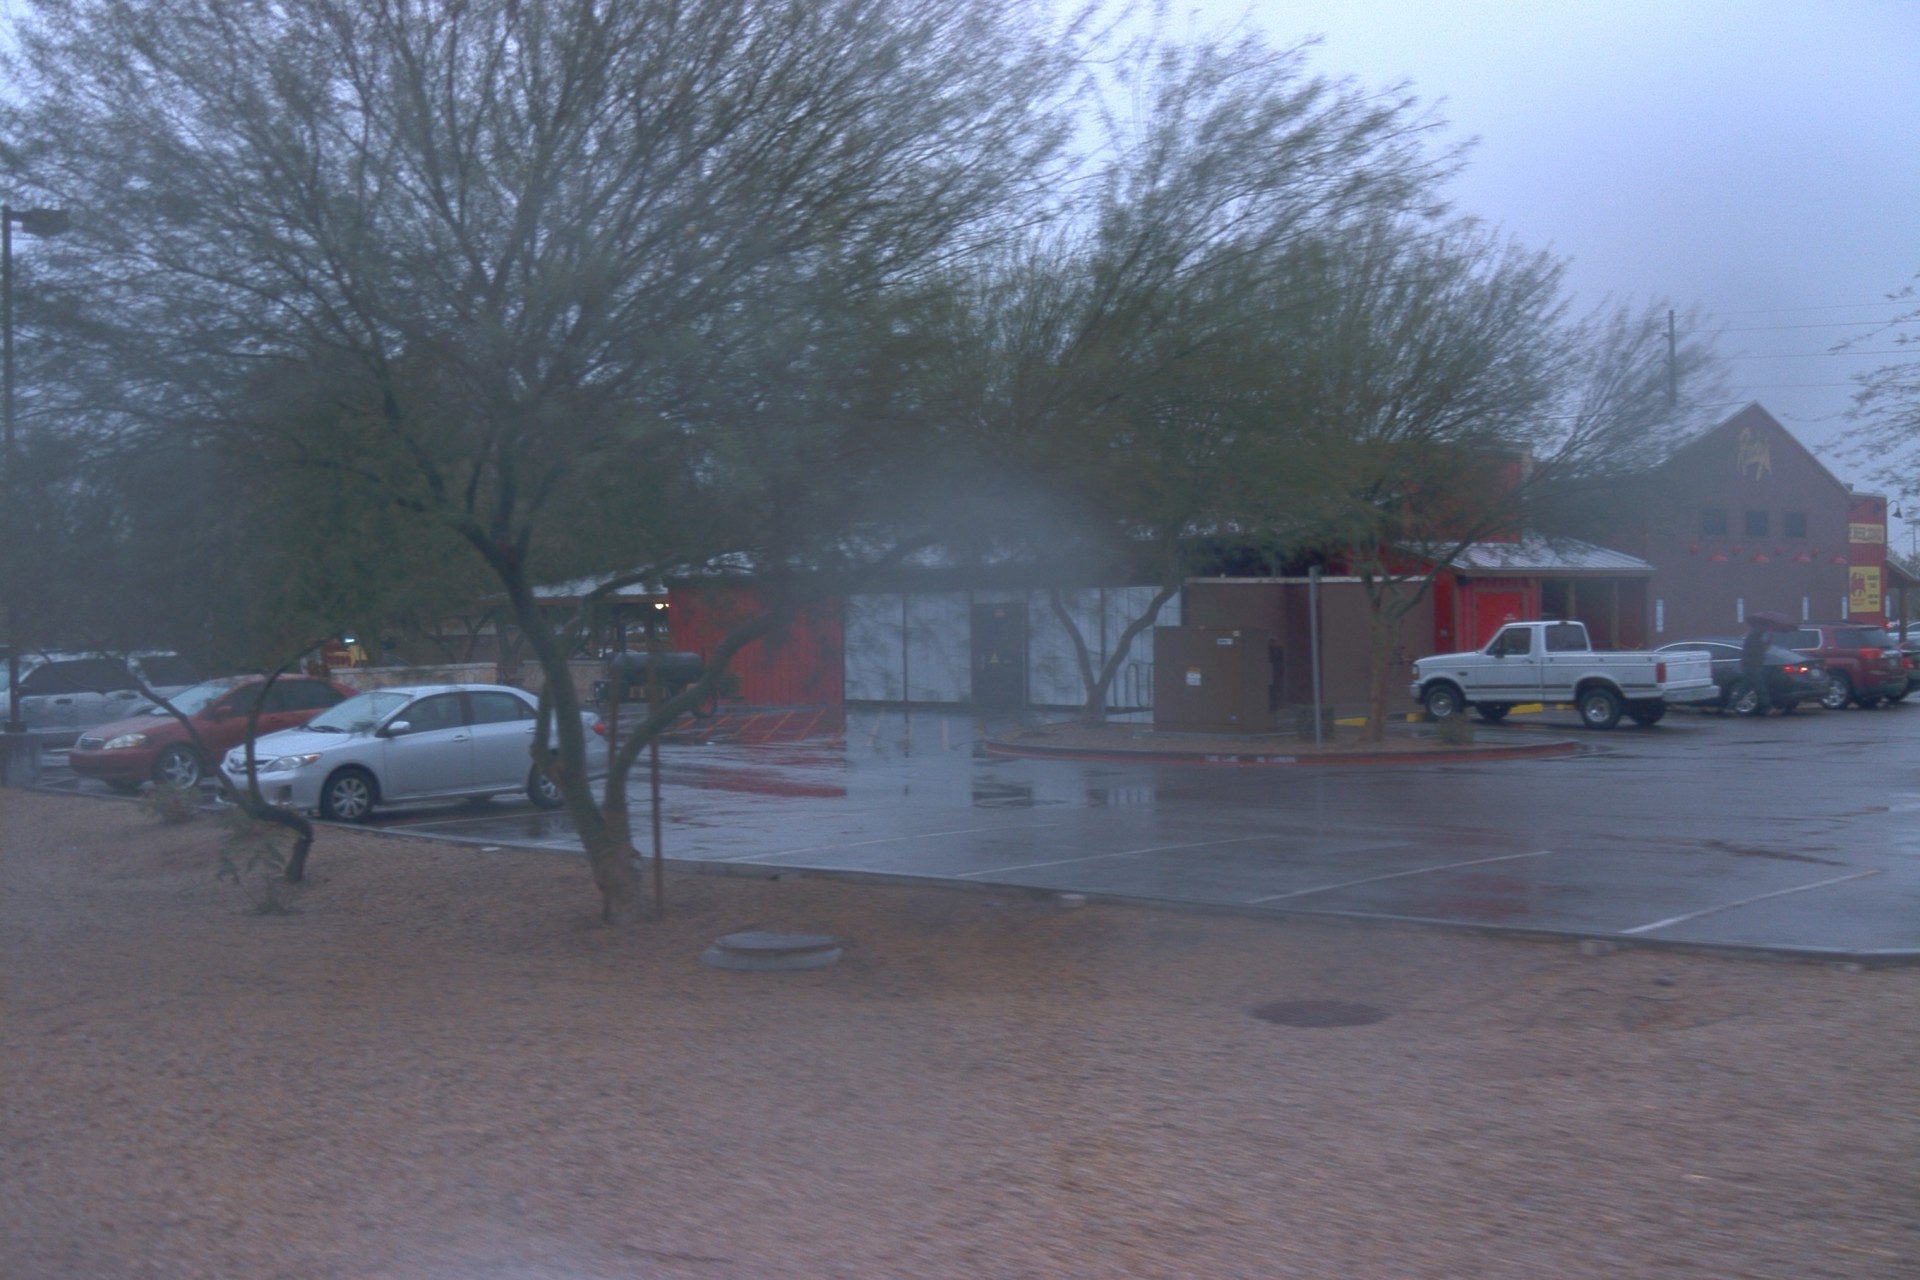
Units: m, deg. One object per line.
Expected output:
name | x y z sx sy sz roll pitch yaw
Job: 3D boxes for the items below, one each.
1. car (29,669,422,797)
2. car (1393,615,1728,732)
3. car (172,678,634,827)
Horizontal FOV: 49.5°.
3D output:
car | -9.720 1.170 27.819 2.049 1.560 4.510 0 -1 44
car | 10.409 0.567 36.405 5.242 1.890 2.096 0 -1 44
car | -6.232 1.197 23.668 4.649 1.490 2.083 1 -1 -45
